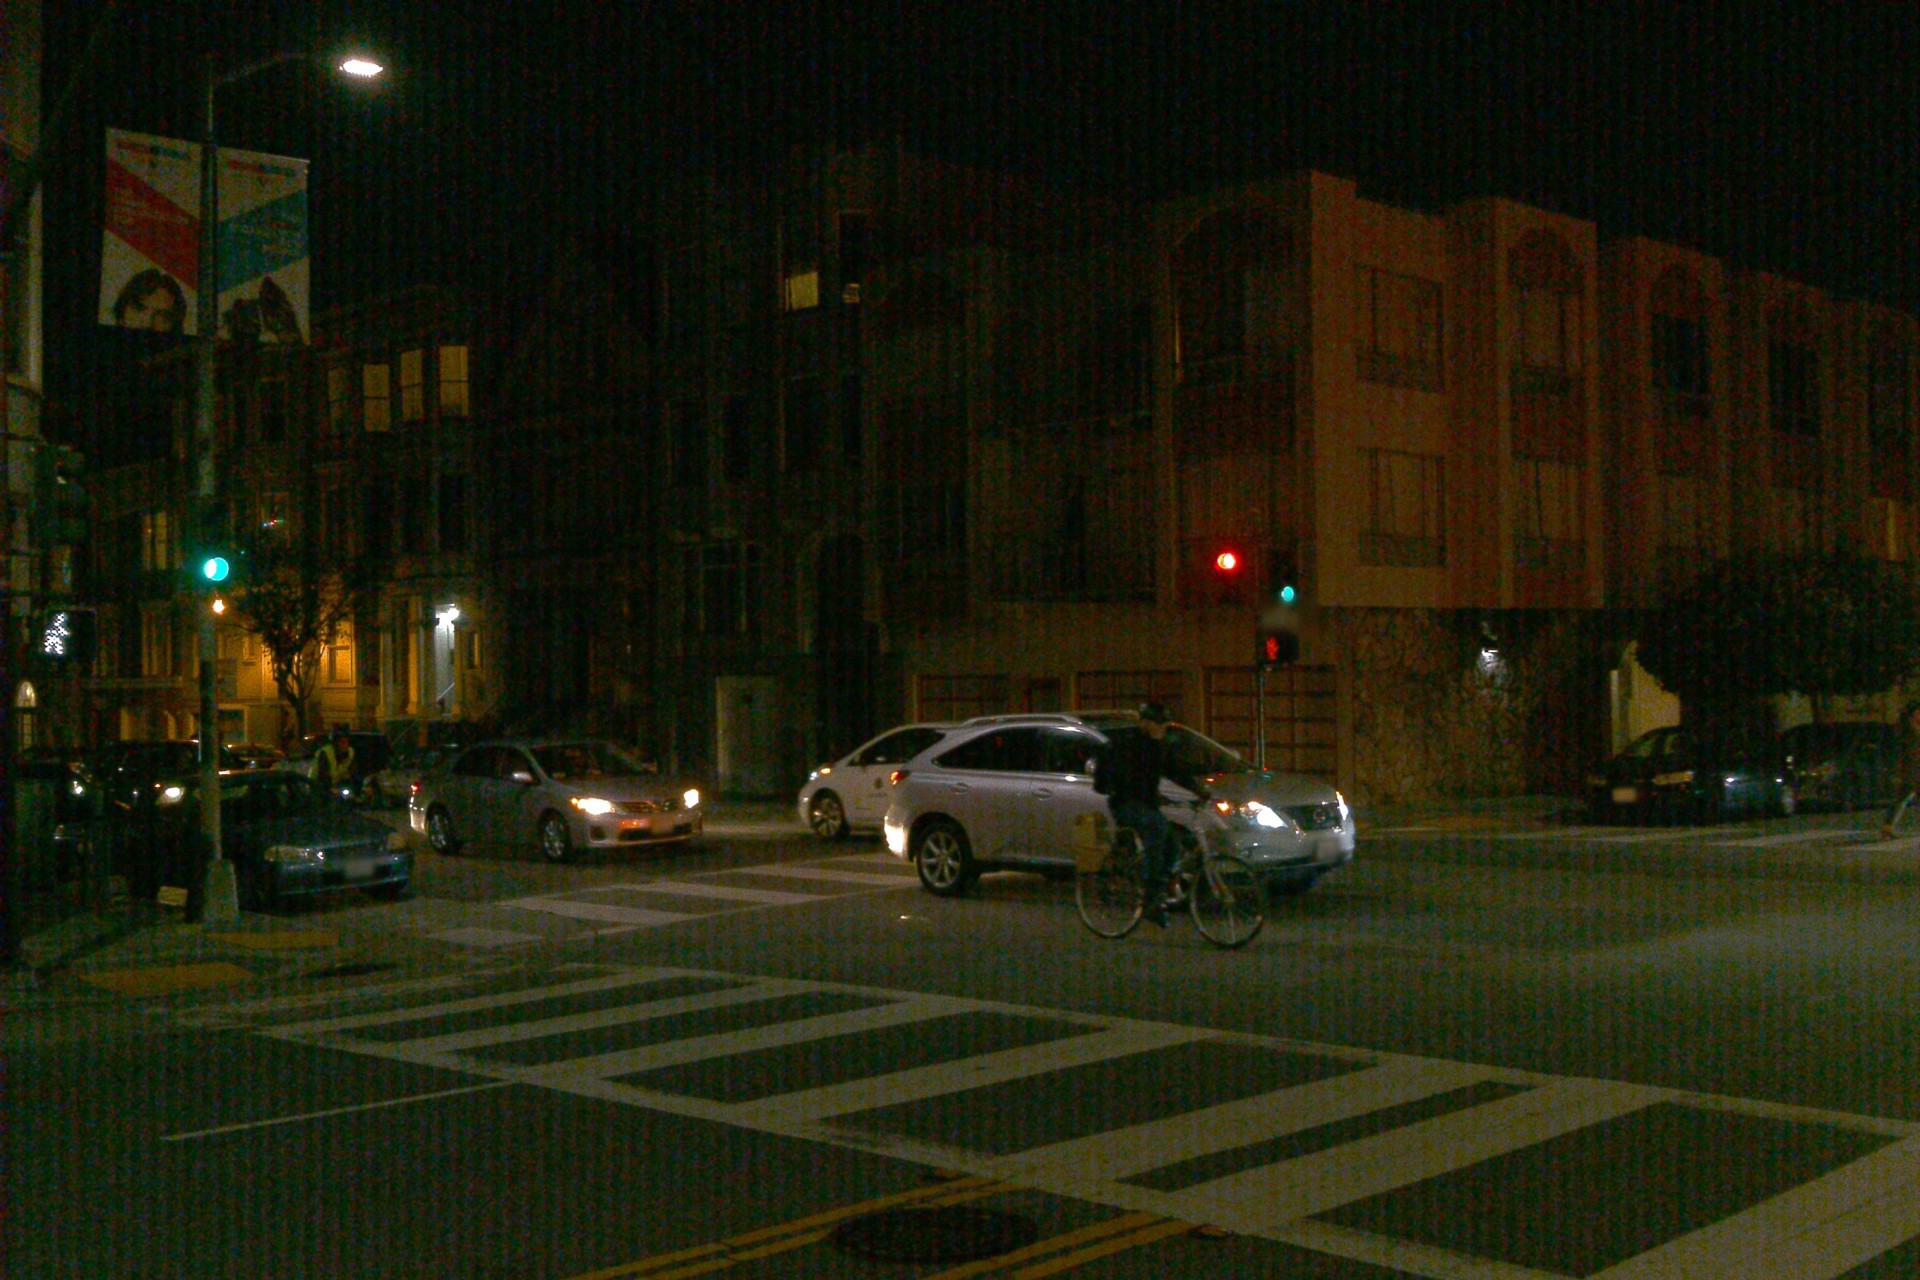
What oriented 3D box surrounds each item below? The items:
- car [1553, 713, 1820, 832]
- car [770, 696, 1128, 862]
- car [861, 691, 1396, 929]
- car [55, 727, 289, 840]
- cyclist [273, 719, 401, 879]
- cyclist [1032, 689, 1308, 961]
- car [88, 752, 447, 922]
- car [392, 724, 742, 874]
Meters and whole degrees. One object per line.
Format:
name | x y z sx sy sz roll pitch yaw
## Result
car | 10.602 1.847 29.961 1.967 1.430 4.633 1 0 42
car | -0.216 1.650 25.885 1.960 1.720 4.390 1 0 -44
car | 1.453 1.444 19.190 4.613 1.760 2.139 1 0 44
car | -13.025 2.297 34.001 2.021 1.480 4.494 1 0 -43
cyclist | -7.449 1.857 24.659 0.771 1.750 1.769 1 0 -41
cyclist | 1.569 1.338 15.652 1.926 1.870 0.832 1 0 42
car | -7.499 2.022 22.146 1.946 1.350 4.278 1 0 -44
car | -4.944 1.886 25.603 2.125 1.450 4.459 1 0 -44
